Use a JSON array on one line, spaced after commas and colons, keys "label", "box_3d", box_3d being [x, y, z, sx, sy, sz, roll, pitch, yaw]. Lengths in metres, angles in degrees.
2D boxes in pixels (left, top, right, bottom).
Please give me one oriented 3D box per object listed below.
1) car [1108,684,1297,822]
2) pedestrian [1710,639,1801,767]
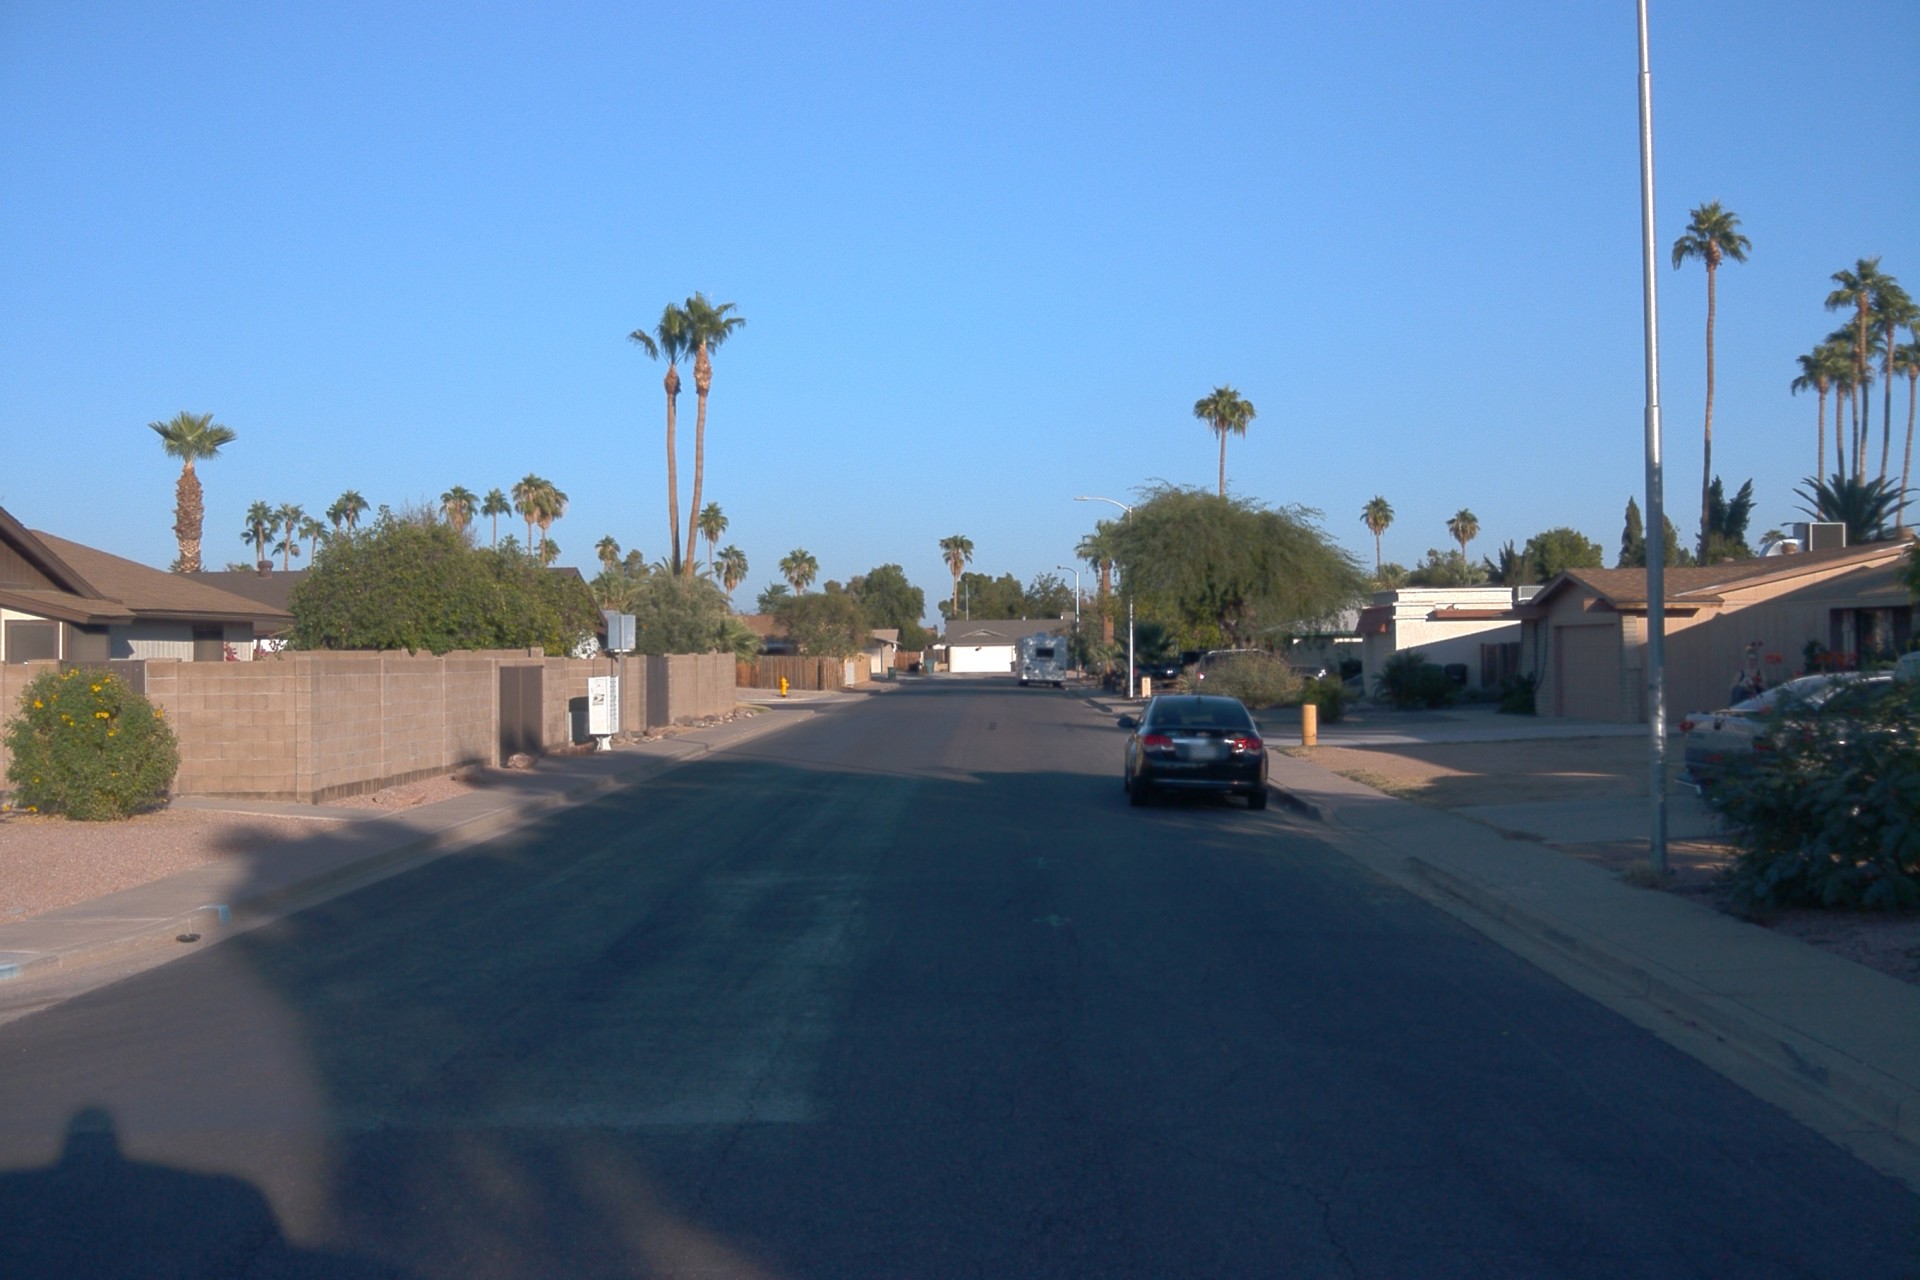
[{"label": "car", "box_3d": [3.239, 1.477, 28.768, 2.141, 1.670, 4.751, 0, 0, 1]}, {"label": "pedestrian", "box_3d": [11.031, 0.861, 28.917, 0.872, 1.750, 0.830, 0, 0, -10]}]
